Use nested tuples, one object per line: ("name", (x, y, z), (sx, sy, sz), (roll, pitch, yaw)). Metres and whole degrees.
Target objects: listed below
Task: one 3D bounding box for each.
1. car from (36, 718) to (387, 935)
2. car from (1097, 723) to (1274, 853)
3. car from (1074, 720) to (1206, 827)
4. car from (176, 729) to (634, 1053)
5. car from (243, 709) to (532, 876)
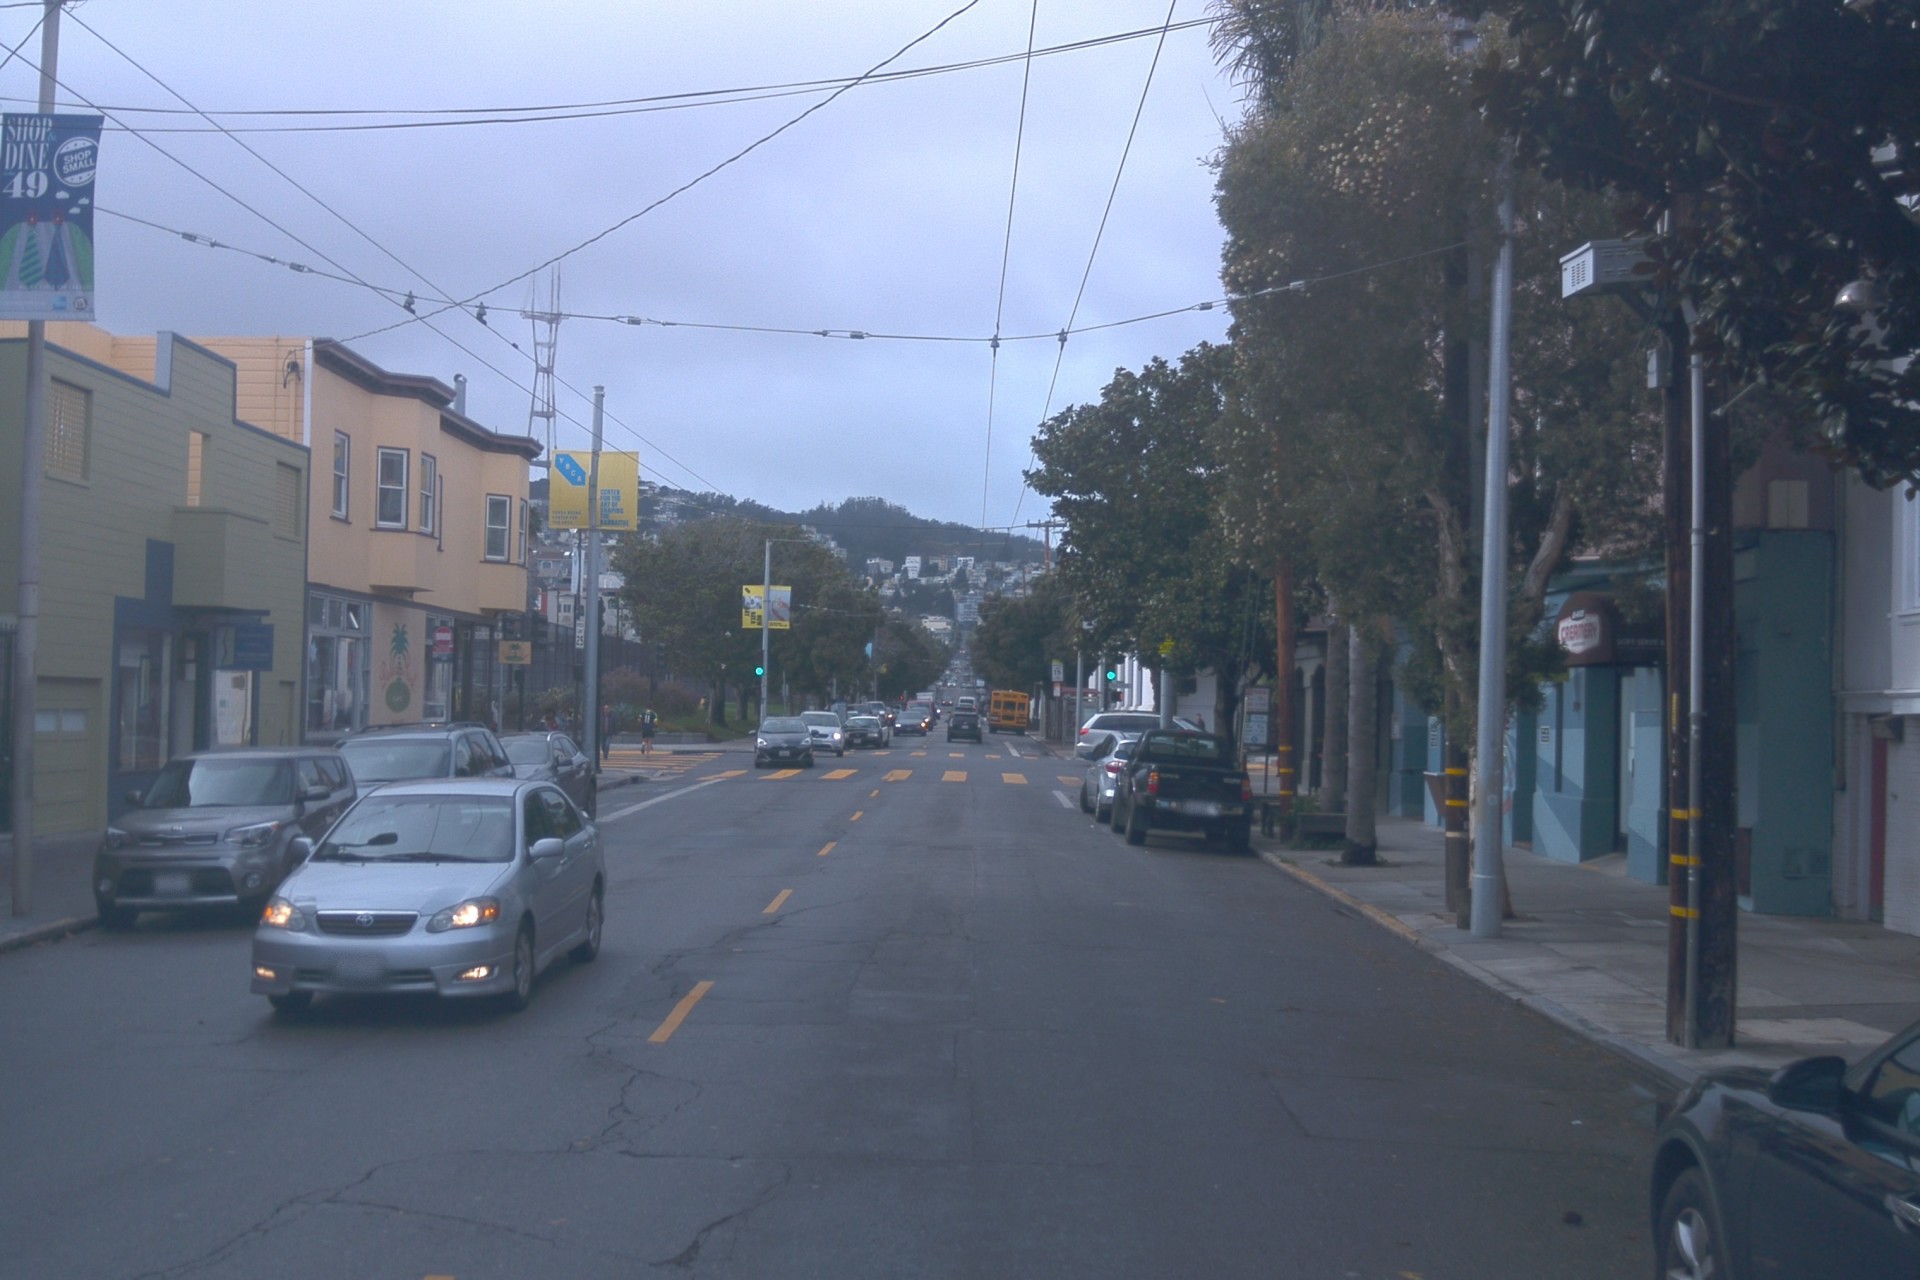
("car", (-7.062, 1.701, 20.166), (2.048, 1.800, 4.148), (1, -2, -3))
("car", (3.334, 2.179, 31.726), (2.066, 1.730, 4.817), (1, -2, -1))
("car", (3.143, 2.329, 37.136), (1.905, 1.720, 4.088), (1, -2, -1))
("car", (-3.687, 1.601, 14.785), (1.955, 1.840, 4.535), (1, -2, 0))
("car", (-6.945, 1.796, 25.946), (2.260, 1.810, 5.102), (1, -2, -1))
